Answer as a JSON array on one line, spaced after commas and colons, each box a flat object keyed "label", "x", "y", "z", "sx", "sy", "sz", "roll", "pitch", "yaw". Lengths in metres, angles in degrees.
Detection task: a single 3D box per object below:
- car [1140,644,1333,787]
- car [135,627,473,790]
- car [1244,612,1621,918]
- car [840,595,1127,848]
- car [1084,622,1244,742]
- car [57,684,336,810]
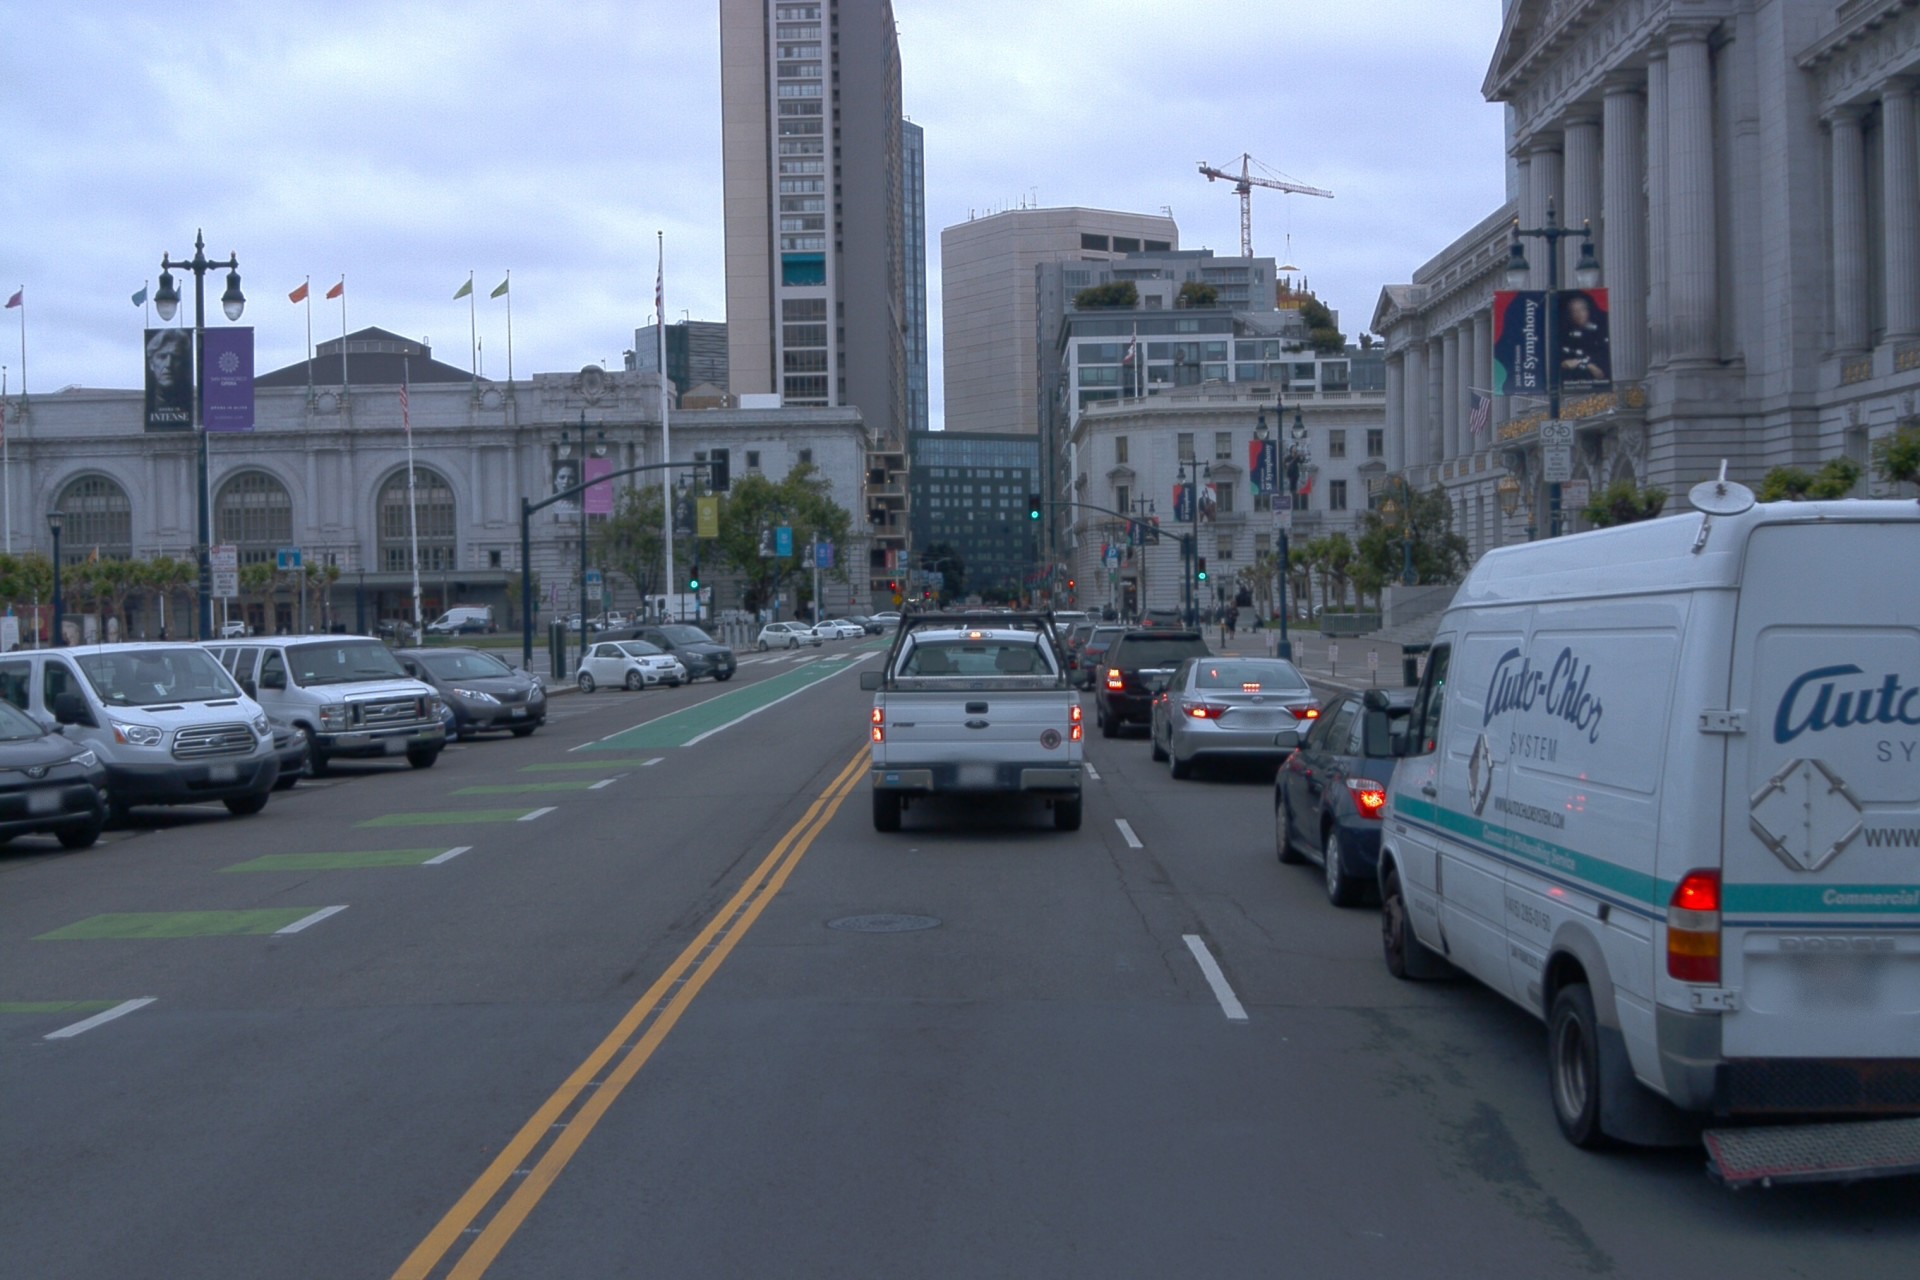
[{"label": "car", "x": 3.362, "y": 0.866, "z": 25.828, "sx": 1.959, "sy": 1.550, "sz": 4.574, "roll": 0, "pitch": 1, "yaw": 2}, {"label": "car", "x": -10.123, "y": 0.924, "z": 31.370, "sx": 2.406, "sy": 2.204, "sz": 6.135, "roll": -1, "pitch": 1, "yaw": -44}, {"label": "car", "x": 3.376, "y": 0.792, "z": 15.507, "sx": 1.934, "sy": 1.990, "sz": 4.031, "roll": 0, "pitch": 1, "yaw": 0}, {"label": "car", "x": 0.173, "y": 0.672, "z": 20.559, "sx": 2.502, "sy": 2.200, "sz": 5.177, "roll": 0, "pitch": 1, "yaw": -1}, {"label": "car", "x": 3.229, "y": 0.611, "z": 33.607, "sx": 2.248, "sy": 1.750, "sz": 5.253, "roll": 0, "pitch": 1, "yaw": 2}, {"label": "car", "x": -10.410, "y": 1.384, "z": 27.898, "sx": 4.253, "sy": 1.434, "sz": 1.801, "roll": 1, "pitch": 1, "yaw": 43}]
